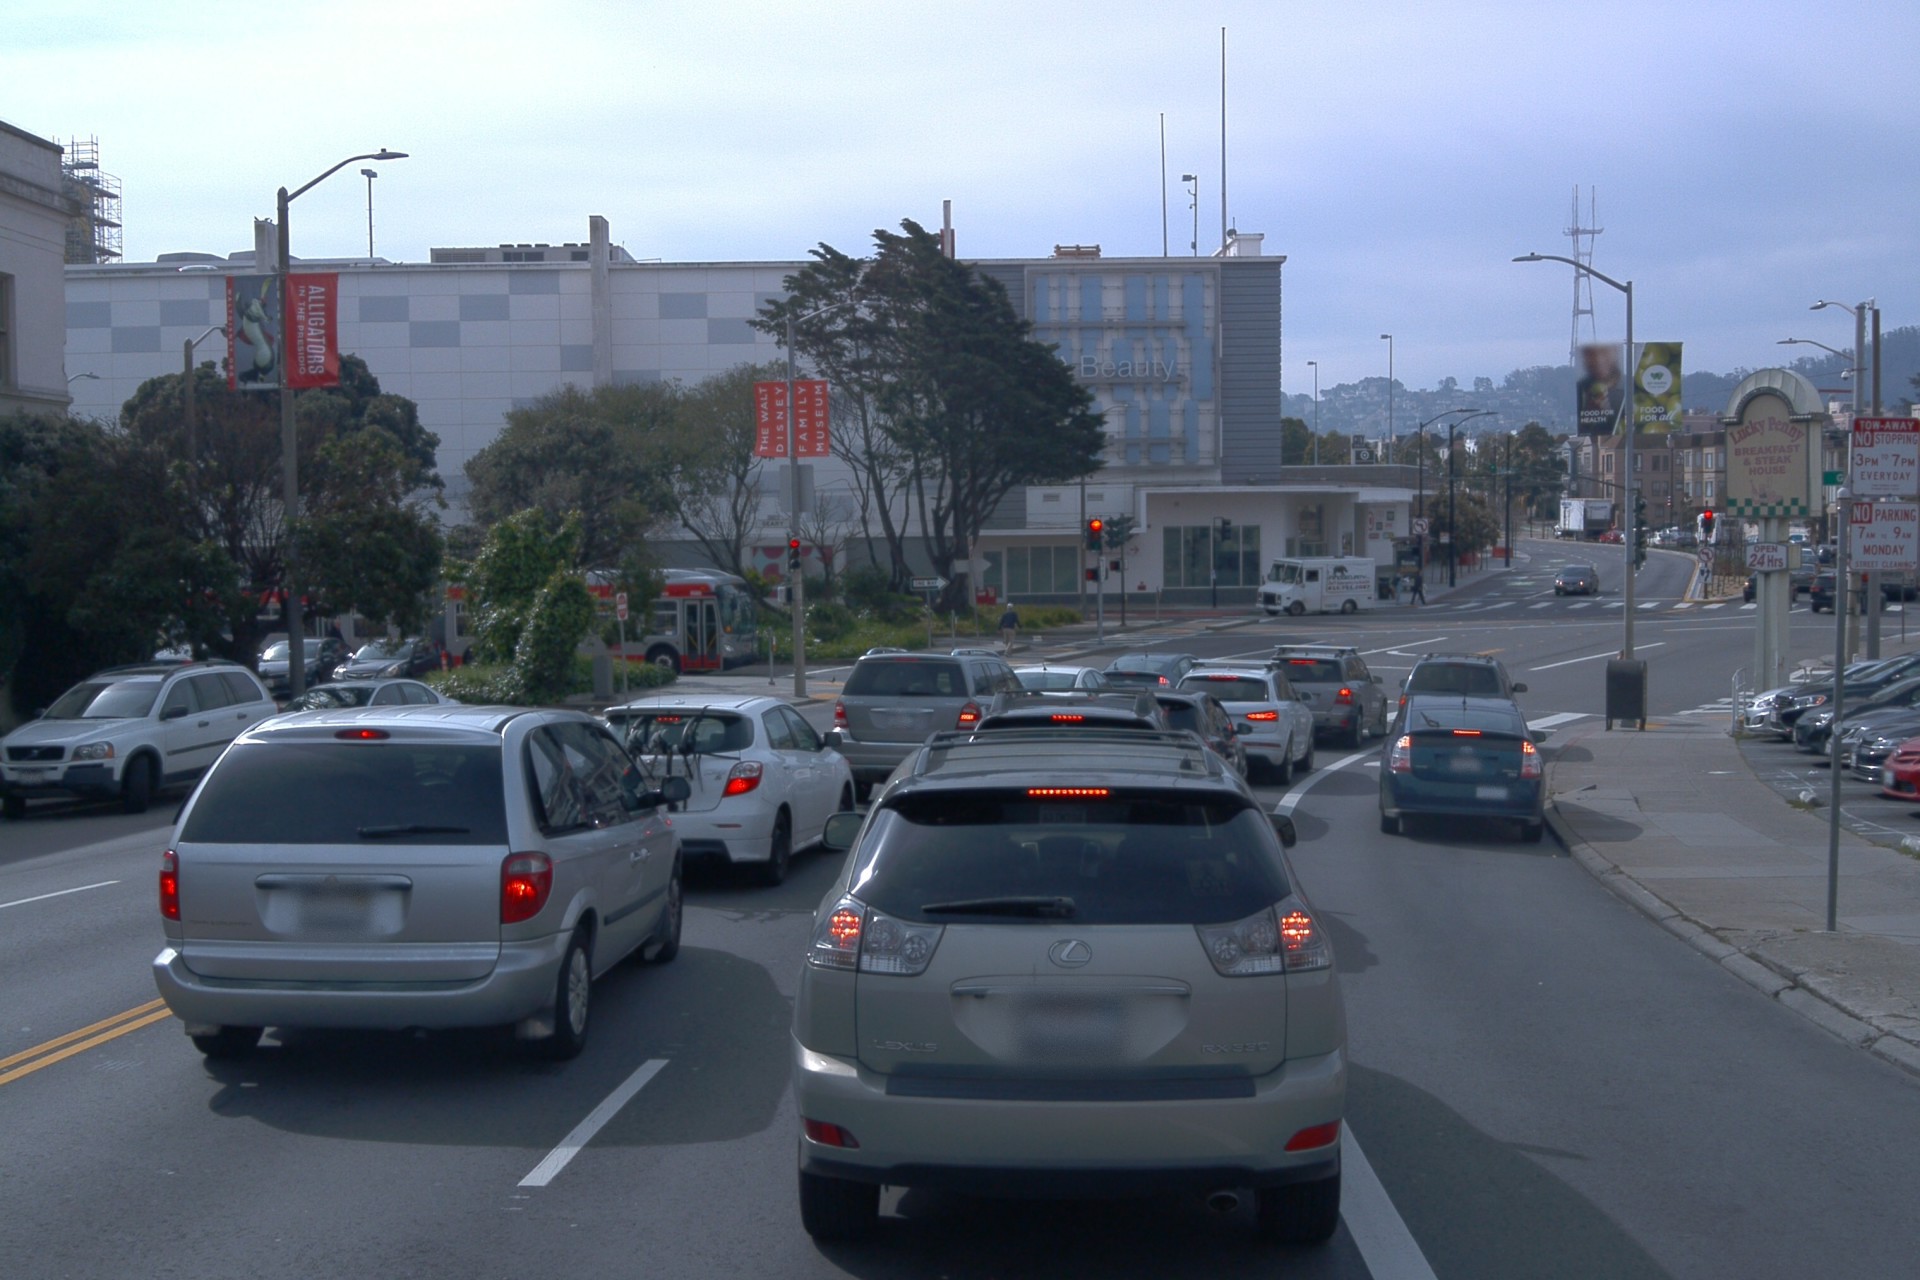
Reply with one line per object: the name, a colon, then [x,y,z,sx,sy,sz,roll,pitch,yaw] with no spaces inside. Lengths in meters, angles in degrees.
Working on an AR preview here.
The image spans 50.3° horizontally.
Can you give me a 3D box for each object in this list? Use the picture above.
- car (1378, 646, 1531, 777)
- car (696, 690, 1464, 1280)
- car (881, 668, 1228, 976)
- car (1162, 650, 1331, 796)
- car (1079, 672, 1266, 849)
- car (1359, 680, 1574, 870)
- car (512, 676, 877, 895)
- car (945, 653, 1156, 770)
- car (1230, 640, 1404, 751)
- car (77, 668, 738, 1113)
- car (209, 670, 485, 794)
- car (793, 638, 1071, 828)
car: [8.553,1.143,35.077,2.203,2.020,4.801,1,0,18]
car: [0.408,1.168,8.136,2.197,1.780,4.467,1,0,2]
car: [0.886,1.201,15.459,2.119,1.870,4.391,1,0,9]
car: [4.169,1.108,29.239,1.795,1.880,4.044,1,0,17]
car: [2.539,1.307,23.697,1.526,1.780,3.939,1,0,15]
car: [5.627,1.411,23.175,2.113,1.790,4.645,1,0,12]
car: [-2.125,1.135,17.680,1.982,1.530,4.306,1,0,9]
car: [1.553,1.074,32.733,2.220,1.670,4.643,1,0,18]
car: [6.641,0.947,37.539,2.226,1.850,5.307,1,0,20]
car: [-2.684,1.120,11.268,2.131,1.830,4.635,1,0,4]
car: [-9.230,1.333,31.231,1.977,1.640,4.663,1,0,13]
car: [-0.210,1.038,25.536,2.236,2.100,4.827,1,0,15]
